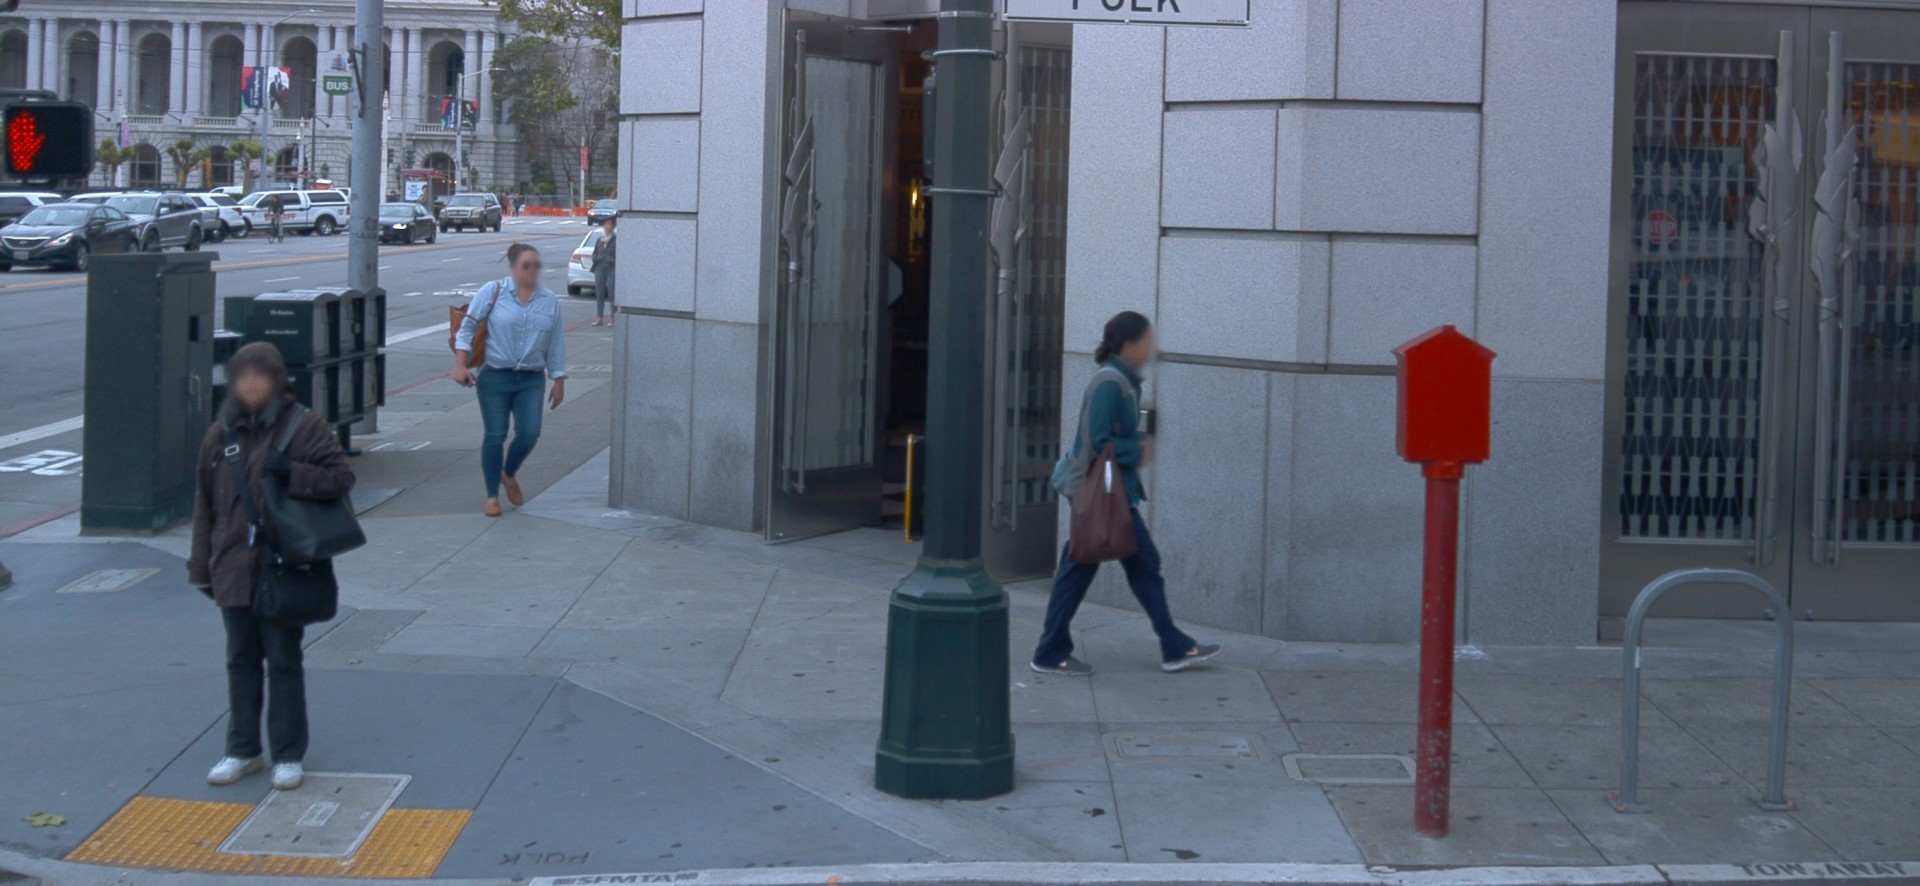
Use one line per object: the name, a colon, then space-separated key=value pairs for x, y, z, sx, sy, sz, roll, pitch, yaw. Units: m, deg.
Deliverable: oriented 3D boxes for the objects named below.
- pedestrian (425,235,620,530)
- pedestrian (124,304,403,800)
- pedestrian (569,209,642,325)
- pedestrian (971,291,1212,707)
pedestrian: x=-2.822 y=-0.434 z=13.221 sx=1.055 sy=1.801 sz=0.961 roll=-1 pitch=2 yaw=-23
pedestrian: x=-2.523 y=0.359 z=7.529 sx=0.799 sy=1.707 sz=0.672 roll=0 pitch=2 yaw=-2
pedestrian: x=-5.563 y=-2.773 z=32.283 sx=0.850 sy=1.788 sz=0.790 roll=1 pitch=2 yaw=19
pedestrian: x=0.586 y=0.196 z=8.972 sx=0.999 sy=1.687 sz=0.869 roll=0 pitch=2 yaw=6
